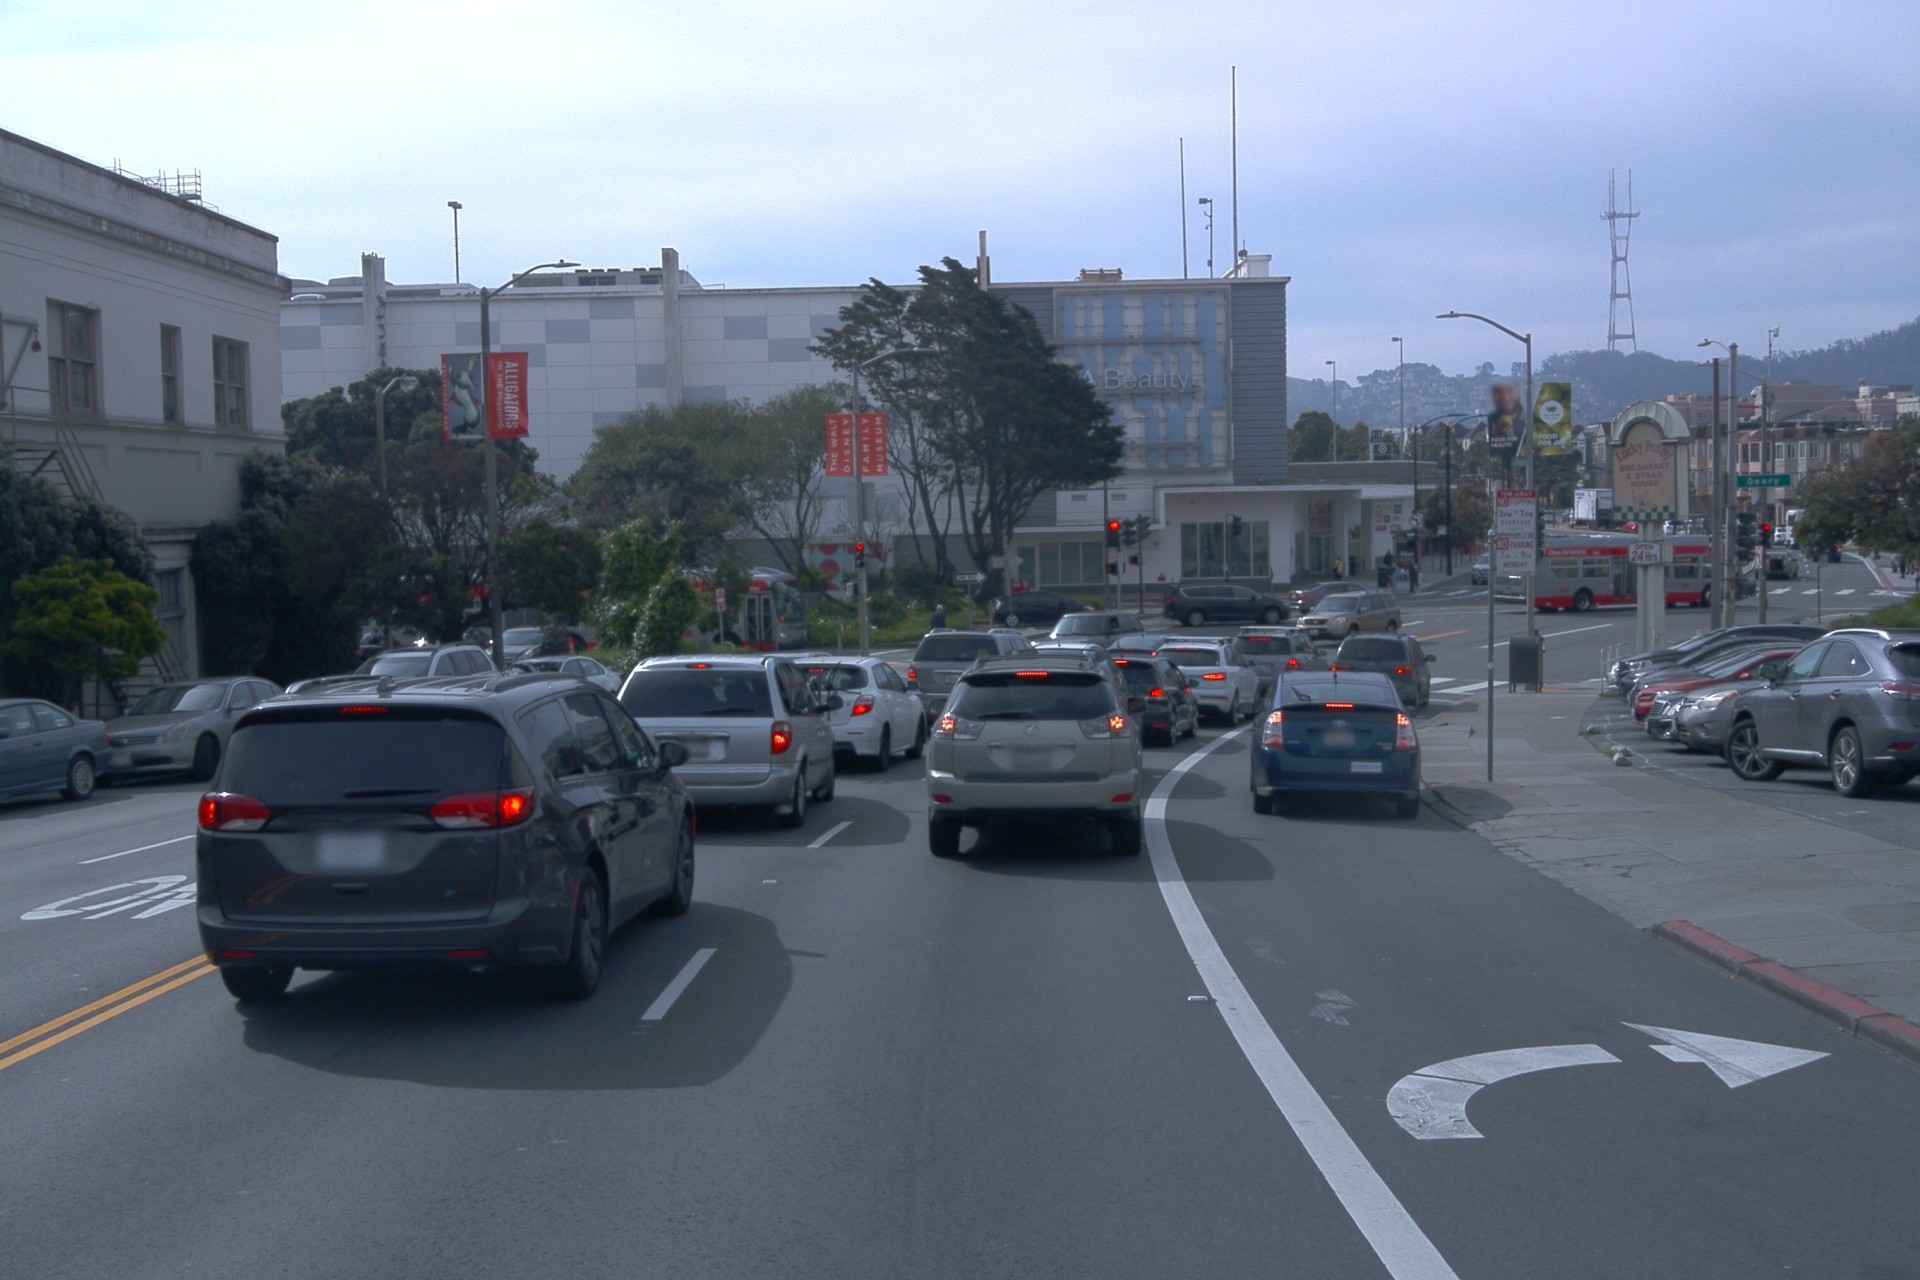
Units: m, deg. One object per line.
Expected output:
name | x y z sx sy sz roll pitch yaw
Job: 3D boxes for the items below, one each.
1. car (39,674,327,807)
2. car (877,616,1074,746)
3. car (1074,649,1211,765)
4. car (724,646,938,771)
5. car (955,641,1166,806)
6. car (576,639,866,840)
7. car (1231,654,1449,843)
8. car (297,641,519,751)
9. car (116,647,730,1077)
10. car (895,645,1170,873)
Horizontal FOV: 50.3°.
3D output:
car | -11.170 1.387 29.797 2.018 1.660 4.691 1 0 6
car | 0.371 0.658 36.025 2.236 2.100 4.827 1 0 16
car | 3.100 1.057 34.177 1.526 1.780 3.939 1 0 16
car | -1.680 0.875 28.245 1.982 1.530 4.306 1 0 10
car | 1.381 0.968 26.045 2.120 1.870 4.391 1 0 10
car | -2.346 0.927 21.408 2.131 1.830 4.635 1 0 5
car | 4.104 1.080 22.539 2.113 1.790 4.647 1 0 9
car | -9.829 0.936 36.834 2.060 1.800 4.806 1 0 9
car | -2.907 1.091 12.476 2.338 2.030 5.004 1 0 1
car | 0.692 0.965 18.727 2.197 1.780 4.467 1 0 3
